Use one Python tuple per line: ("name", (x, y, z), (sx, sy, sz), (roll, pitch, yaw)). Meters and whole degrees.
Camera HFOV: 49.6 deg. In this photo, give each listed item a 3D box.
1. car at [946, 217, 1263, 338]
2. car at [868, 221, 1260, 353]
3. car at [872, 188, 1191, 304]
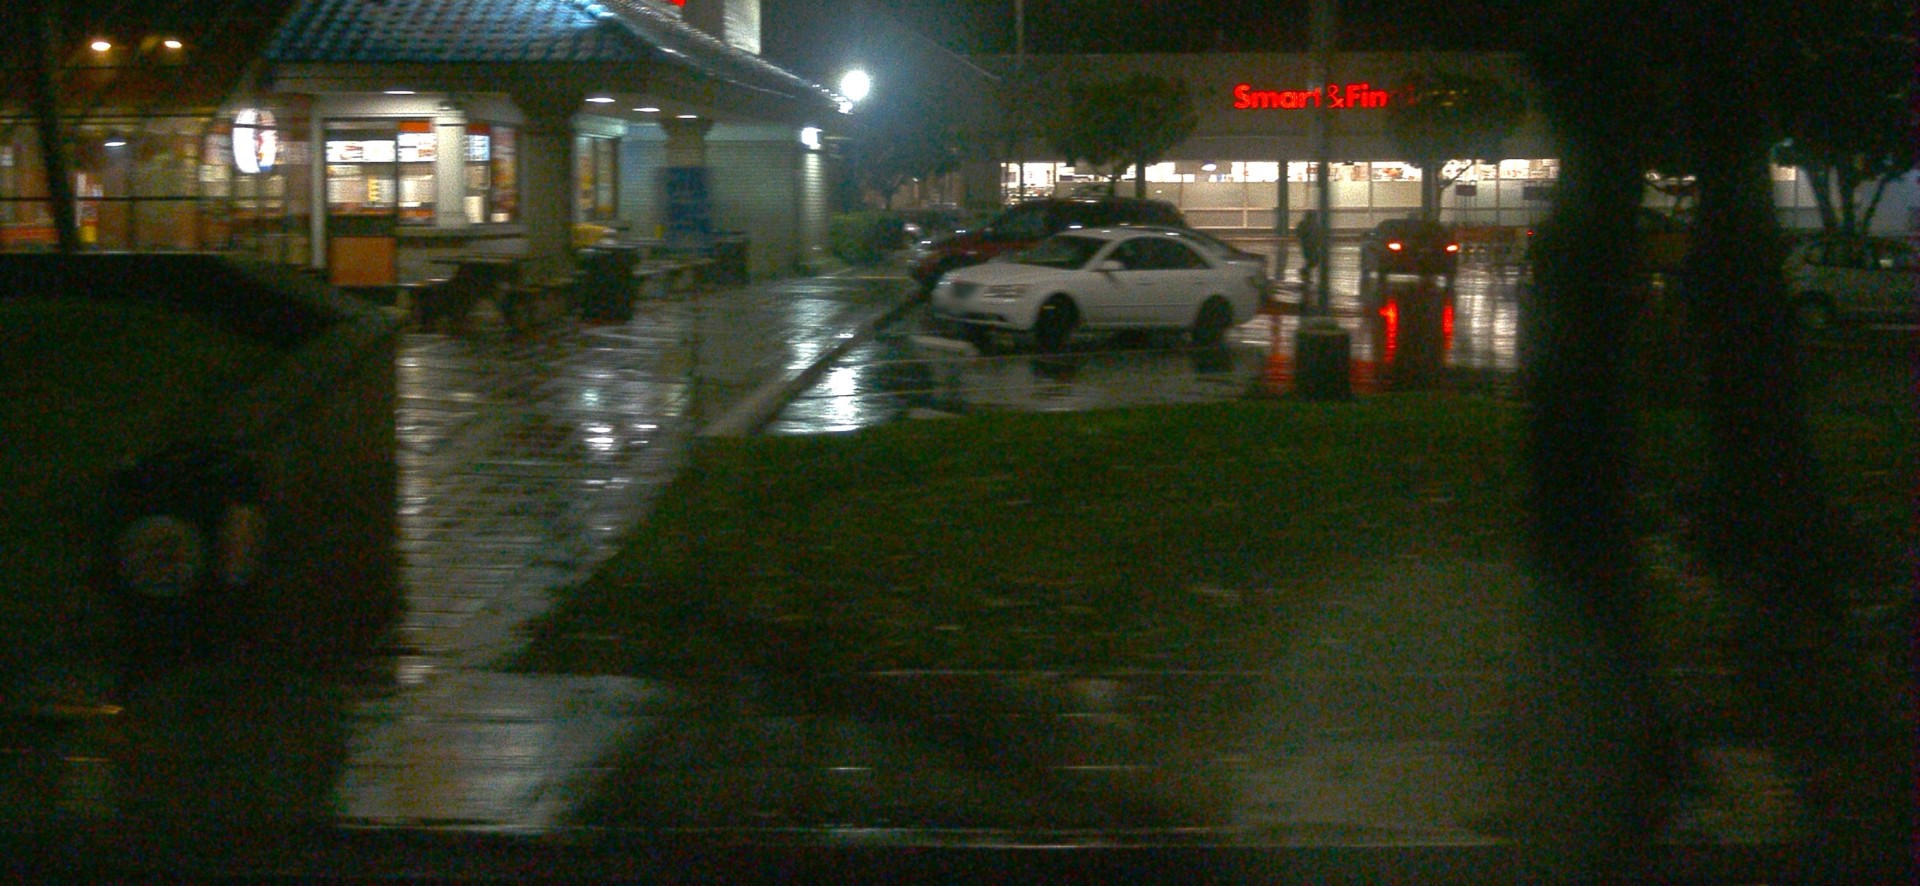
("car", (2.262, -2.603, 32.559), (4.772, 1.788, 2.053), (1, 3, 4))
("car", (1.424, -2.073, 27.236), (4.918, 1.577, 2.123), (-3, 5, -38))
("car", (1.244, -3.320, 35.054), (5.202, 1.858, 2.250), (1, 3, 4))
